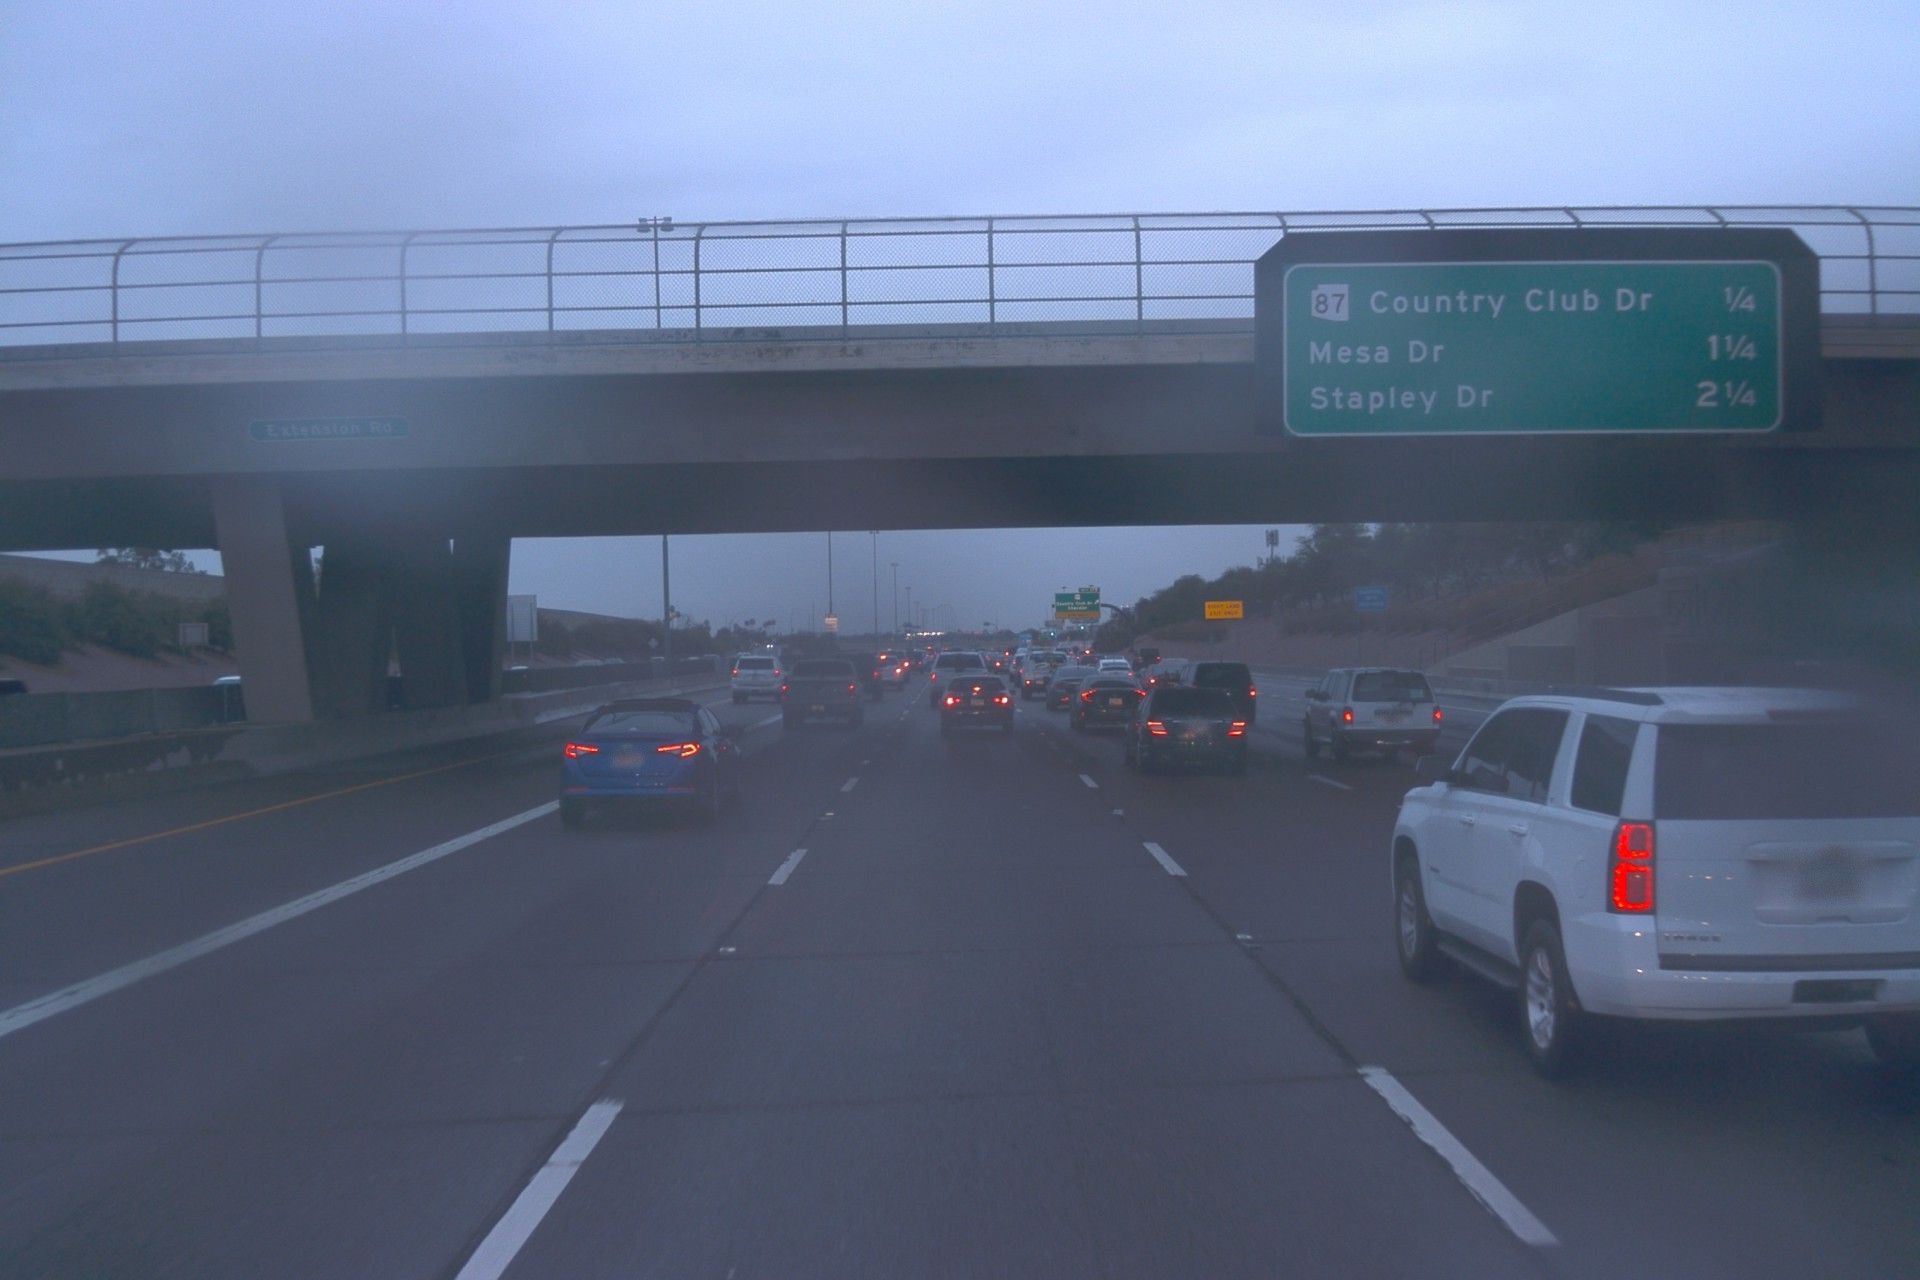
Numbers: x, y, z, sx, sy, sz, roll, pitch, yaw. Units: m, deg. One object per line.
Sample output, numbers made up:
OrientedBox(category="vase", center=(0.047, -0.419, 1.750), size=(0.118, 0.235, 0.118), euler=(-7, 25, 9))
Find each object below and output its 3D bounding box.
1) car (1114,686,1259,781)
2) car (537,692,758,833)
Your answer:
OrientedBox(category="car", center=(3.752, 1.529, 35.193), size=(2.000, 1.420, 4.583), euler=(0, 0, 1))
OrientedBox(category="car", center=(-3.740, 1.437, 25.672), size=(1.988, 1.510, 4.517), euler=(0, 0, 1))
